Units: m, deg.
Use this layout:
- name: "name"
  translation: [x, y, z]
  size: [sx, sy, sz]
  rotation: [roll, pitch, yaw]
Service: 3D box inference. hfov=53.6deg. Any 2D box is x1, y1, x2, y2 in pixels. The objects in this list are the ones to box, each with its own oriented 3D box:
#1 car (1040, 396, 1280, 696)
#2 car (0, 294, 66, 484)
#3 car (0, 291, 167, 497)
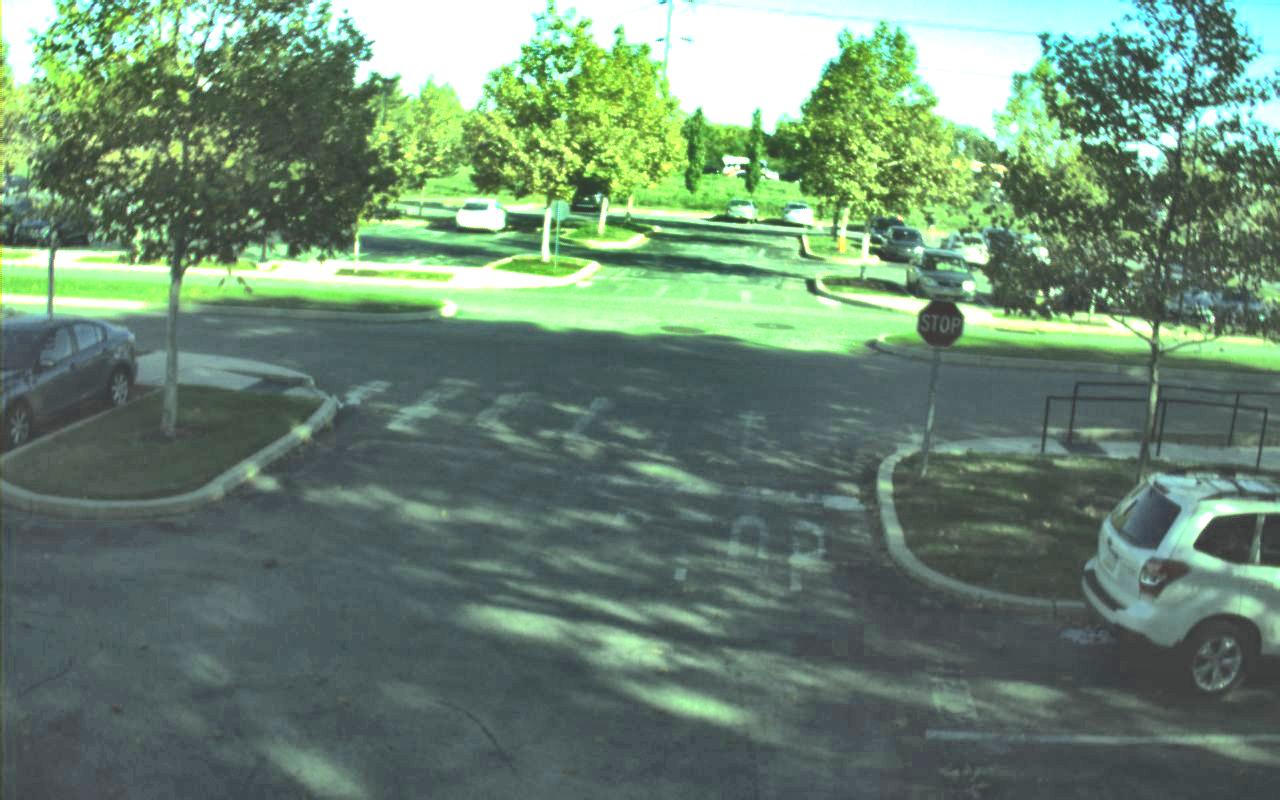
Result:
- name: "car"
  translation: [6.009, 1.214, 10.181]
  size: [4.426, 1.668, 1.990]
  rotation: [-3, 16, -6]
- name: "car"
  translation: [-10.731, -0.237, 16.209]
  size: [1.944, 1.566, 4.485]
  rotation: [4, 17, 16]
- name: "car"
  translation: [-8.379, -0.200, 15.410]
  size: [1.924, 1.541, 4.509]
  rotation: [2, 17, 10]
